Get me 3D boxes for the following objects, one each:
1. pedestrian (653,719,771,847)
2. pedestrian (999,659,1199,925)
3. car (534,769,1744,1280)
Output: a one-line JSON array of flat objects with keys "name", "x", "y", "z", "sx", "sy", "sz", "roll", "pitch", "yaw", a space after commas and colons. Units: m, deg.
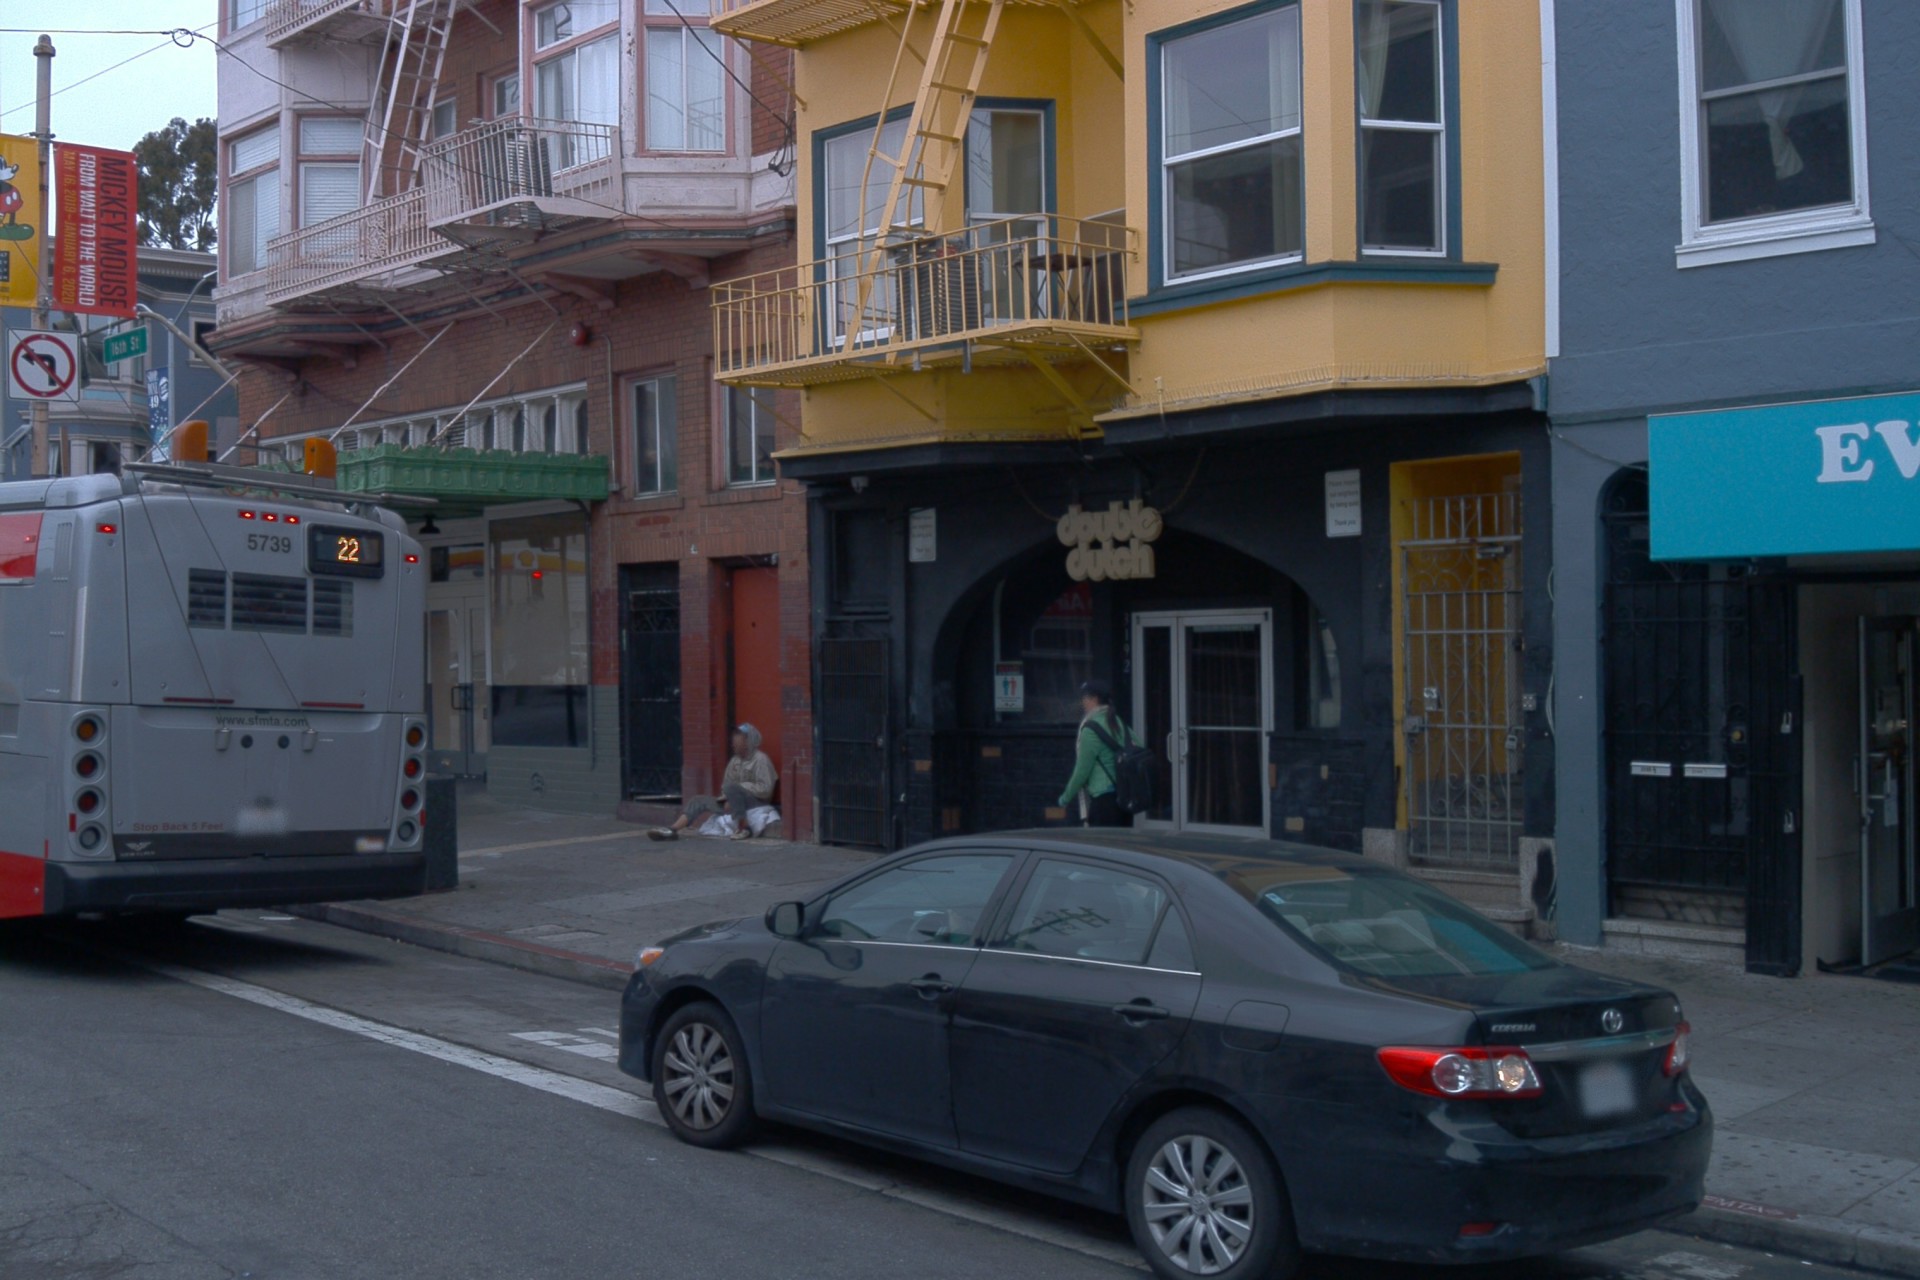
[{"name": "pedestrian", "x": -2.306, "y": 1.311, "z": 19.187, "sx": 0.811, "sy": 1.100, "sz": 0.736, "roll": 1, "pitch": 1, "yaw": 44}, {"name": "pedestrian", "x": 0.975, "y": 1.019, "z": 14.439, "sx": 1.078, "sy": 1.750, "sz": 0.910, "roll": 0, "pitch": 1, "yaw": 36}, {"name": "car", "x": 0.441, "y": 1.467, "z": 8.248, "sx": 2.022, "sy": 1.565, "sz": 4.599, "roll": -1, "pitch": 1, "yaw": -44}]
